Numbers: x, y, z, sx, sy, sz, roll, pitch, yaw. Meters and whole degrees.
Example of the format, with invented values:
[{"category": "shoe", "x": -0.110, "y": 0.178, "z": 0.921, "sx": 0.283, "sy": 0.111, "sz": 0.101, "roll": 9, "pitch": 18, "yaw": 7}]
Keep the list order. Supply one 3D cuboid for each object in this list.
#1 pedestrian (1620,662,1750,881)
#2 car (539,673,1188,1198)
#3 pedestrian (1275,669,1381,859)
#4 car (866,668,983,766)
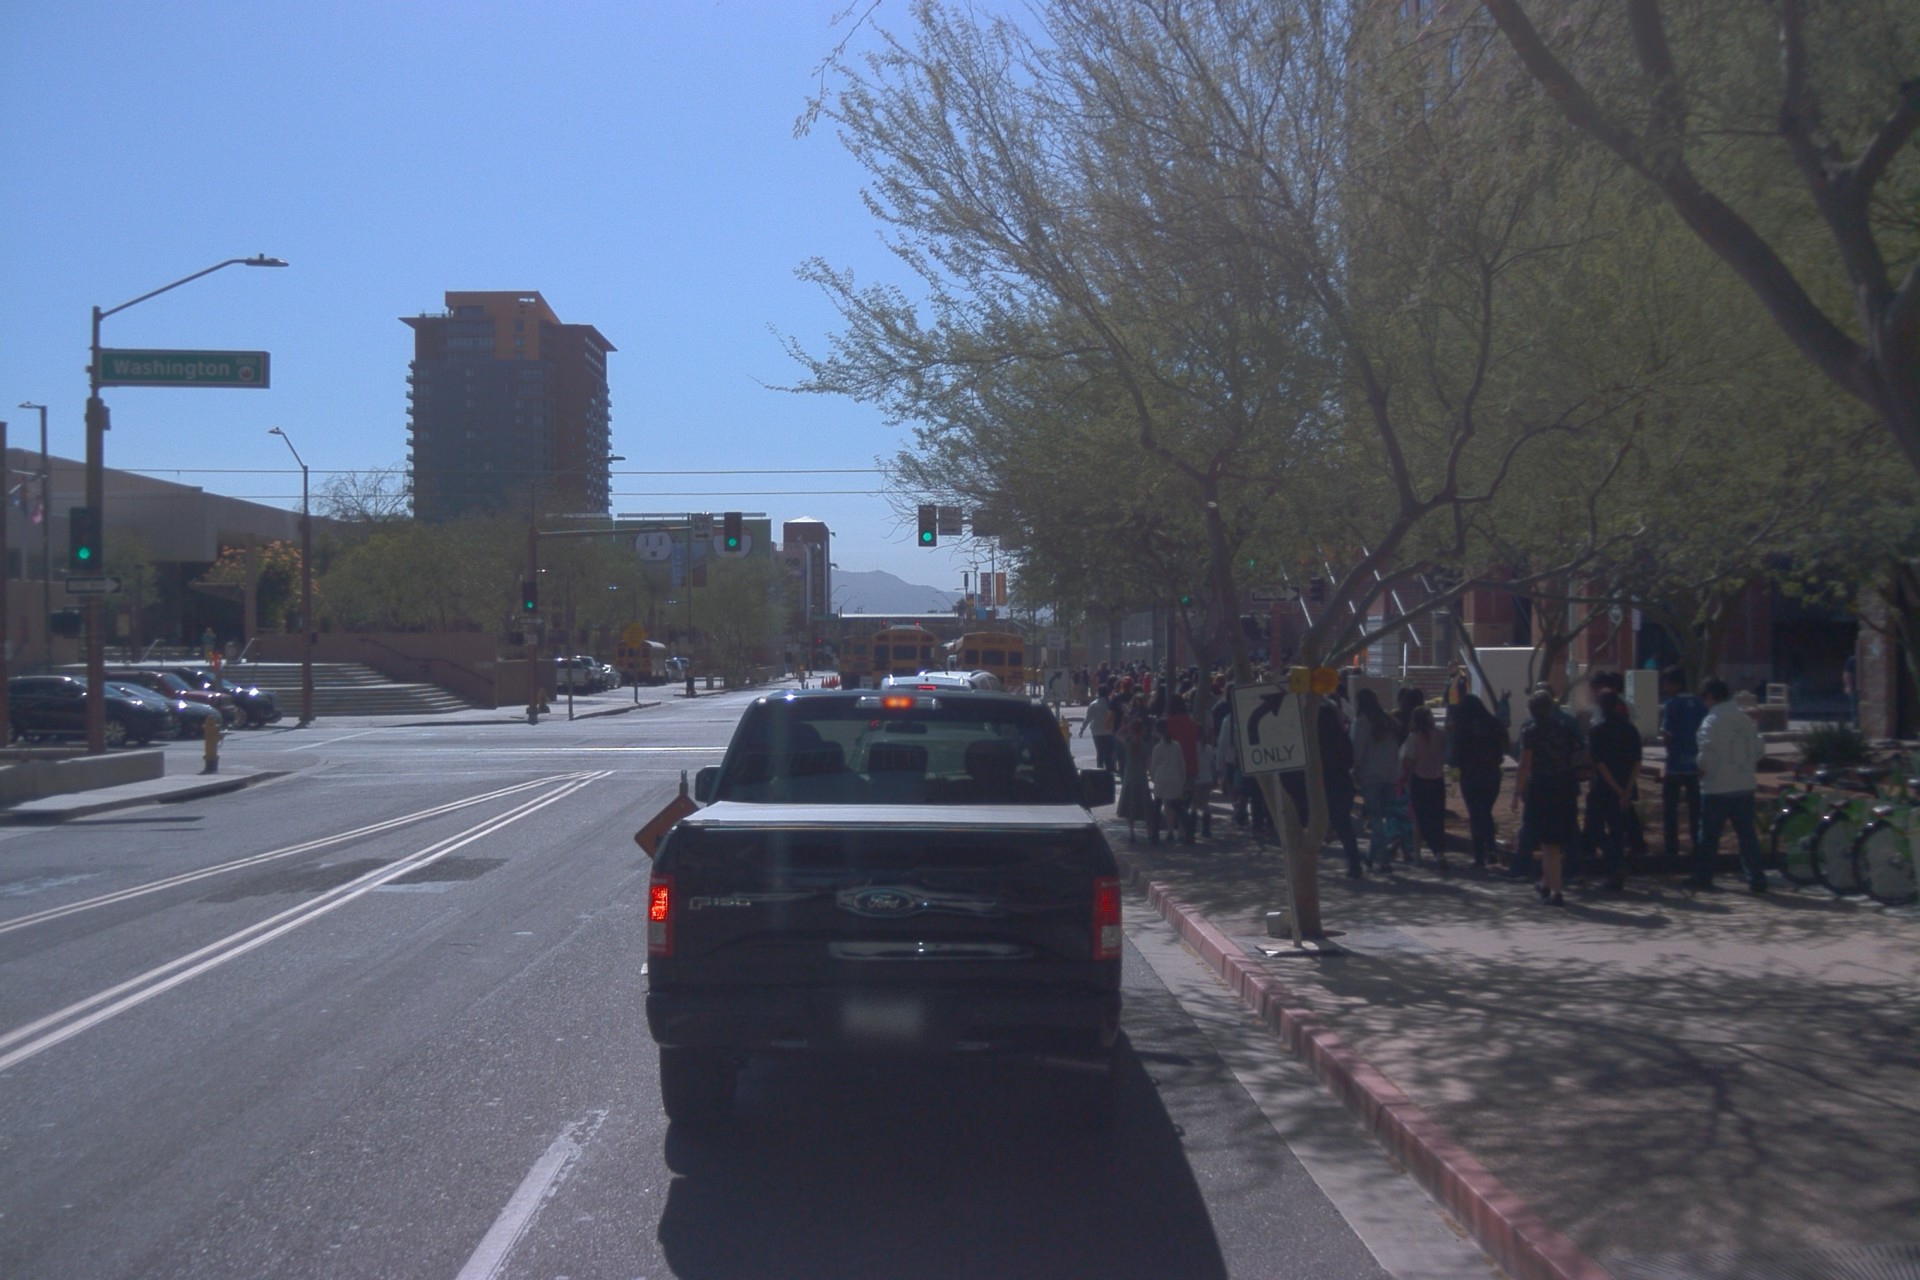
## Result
[{"category": "pedestrian", "x": 6.360, "y": 1.135, "z": 18.285, "sx": 0.835, "sy": 1.880, "sz": 0.792, "roll": 0, "pitch": 0, "yaw": -2}, {"category": "car", "x": -0.355, "y": 1.177, "z": 10.663, "sx": 2.486, "sy": 1.950, "sz": 5.329, "roll": 0, "pitch": 0, "yaw": 0}, {"category": "pedestrian", "x": 3.768, "y": 1.255, "z": 21.364, "sx": 0.959, "sy": 1.900, "sz": 0.880, "roll": 0, "pitch": 0, "yaw": 3}, {"category": "car", "x": -0.510, "y": 1.184, "z": 33.347, "sx": 1.753, "sy": 1.430, "sz": 4.270, "roll": 0, "pitch": 0, "yaw": 1}]
